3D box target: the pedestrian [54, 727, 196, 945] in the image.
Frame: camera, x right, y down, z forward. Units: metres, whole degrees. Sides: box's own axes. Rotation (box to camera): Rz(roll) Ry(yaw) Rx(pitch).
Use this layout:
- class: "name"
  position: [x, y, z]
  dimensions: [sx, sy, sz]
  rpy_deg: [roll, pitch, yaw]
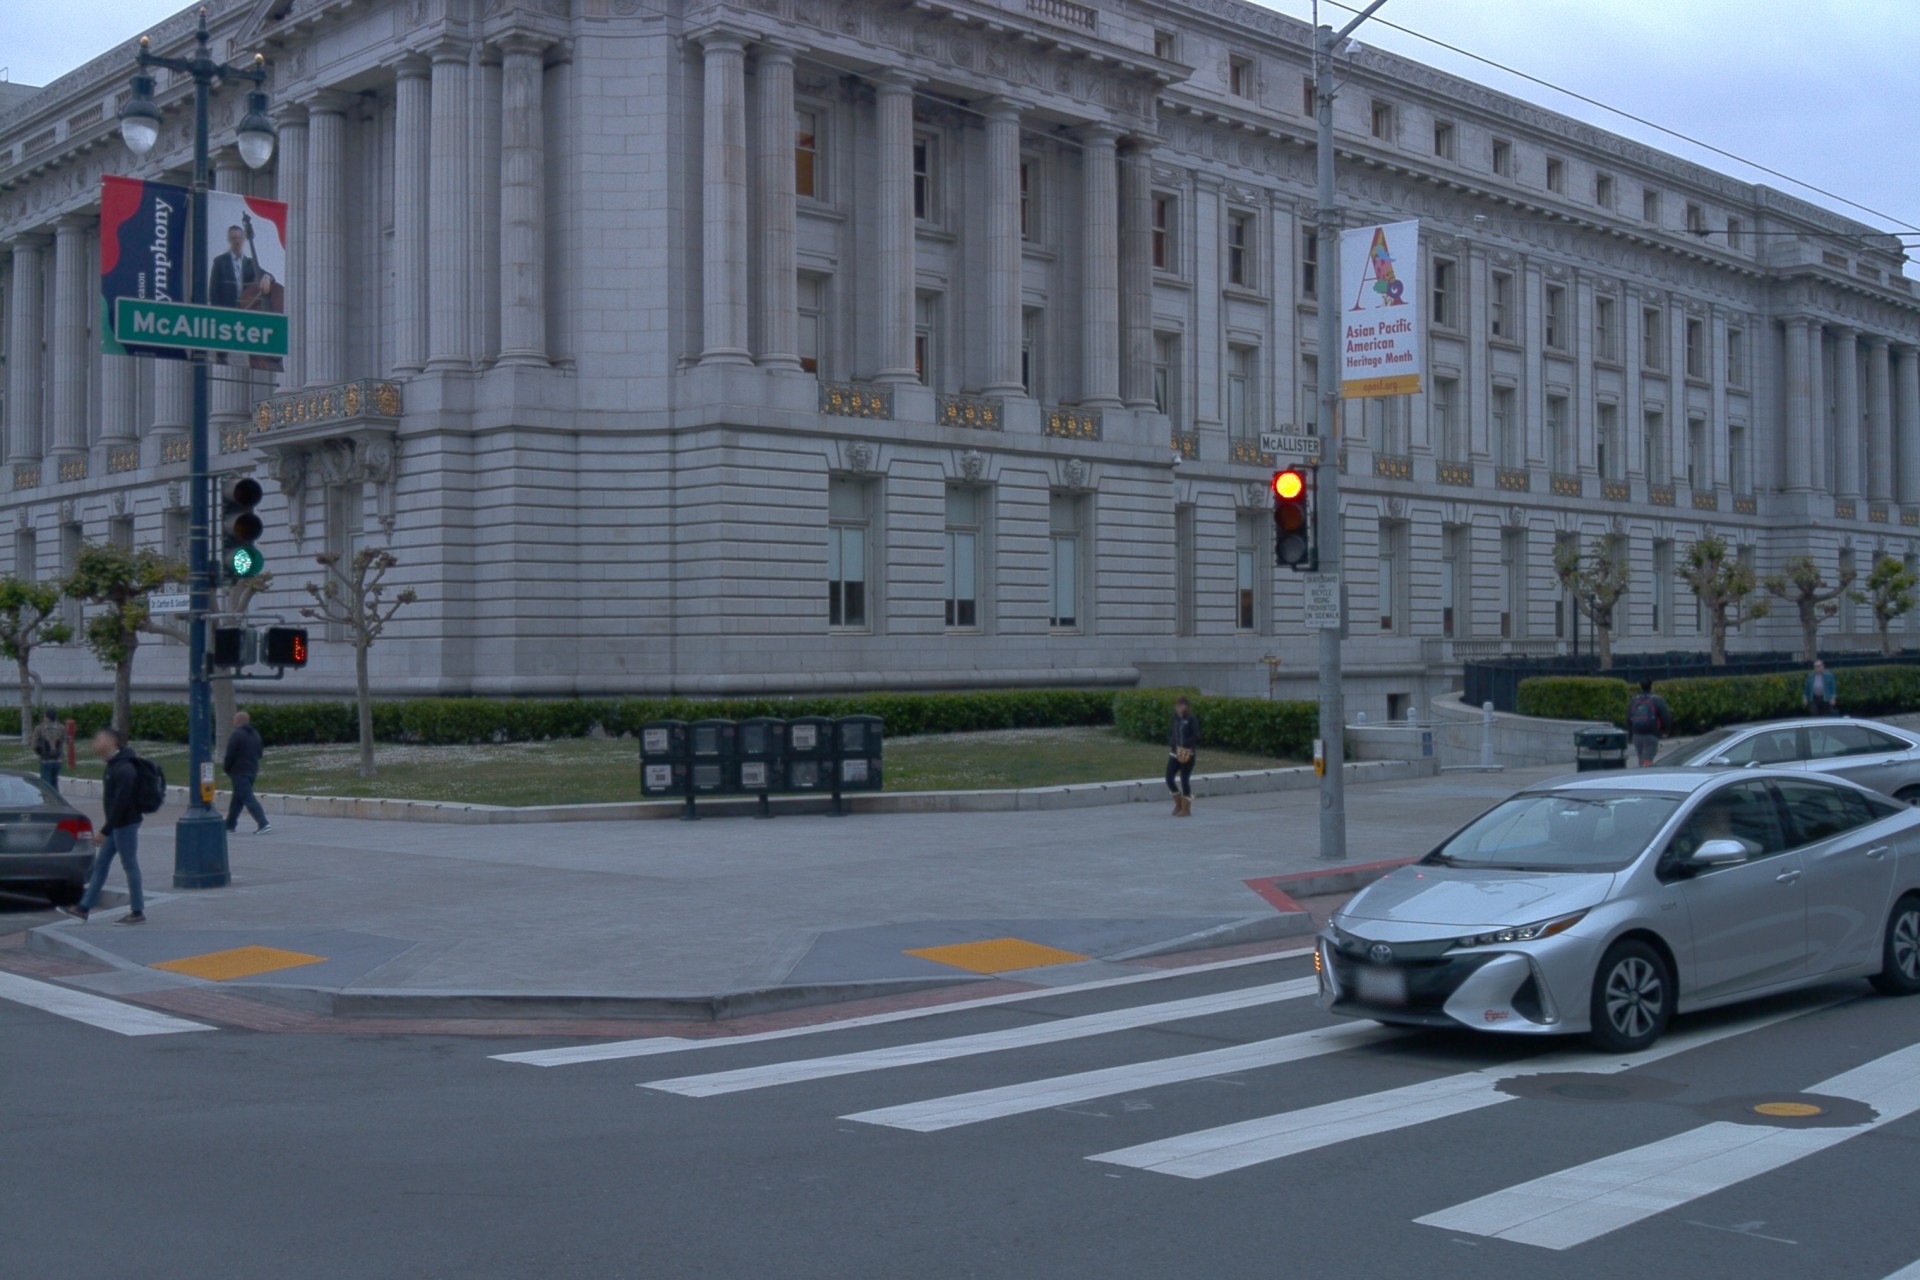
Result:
- class: "pedestrian"
  position: [-7.093, 1.644, 17.582]
  dimensions: [0.933, 1.760, 0.832]
  rpy_deg: [0, 1, -7]

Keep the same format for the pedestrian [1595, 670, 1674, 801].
- class: "pedestrian"
  position: [9.860, 1.376, 30.197]
  dimensions: [0.807, 1.850, 0.871]
  rpy_deg: [1, 1, 42]

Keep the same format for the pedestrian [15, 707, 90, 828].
- class: "pedestrian"
  position: [-14.165, 1.973, 32.233]
  dimensions: [1.004, 1.815, 0.736]
  rpy_deg: [1, 1, 44]

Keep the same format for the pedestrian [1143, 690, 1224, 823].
- class: "pedestrian"
  position: [2.950, 1.524, 27.253]
  dimensions: [0.673, 1.681, 0.864]
  rpy_deg: [1, 1, 42]

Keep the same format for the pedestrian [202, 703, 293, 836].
- class: "pedestrian"
  position: [-9.738, 1.760, 28.247]
  dimensions: [0.918, 1.757, 0.758]
  rpy_deg: [0, 1, 12]
